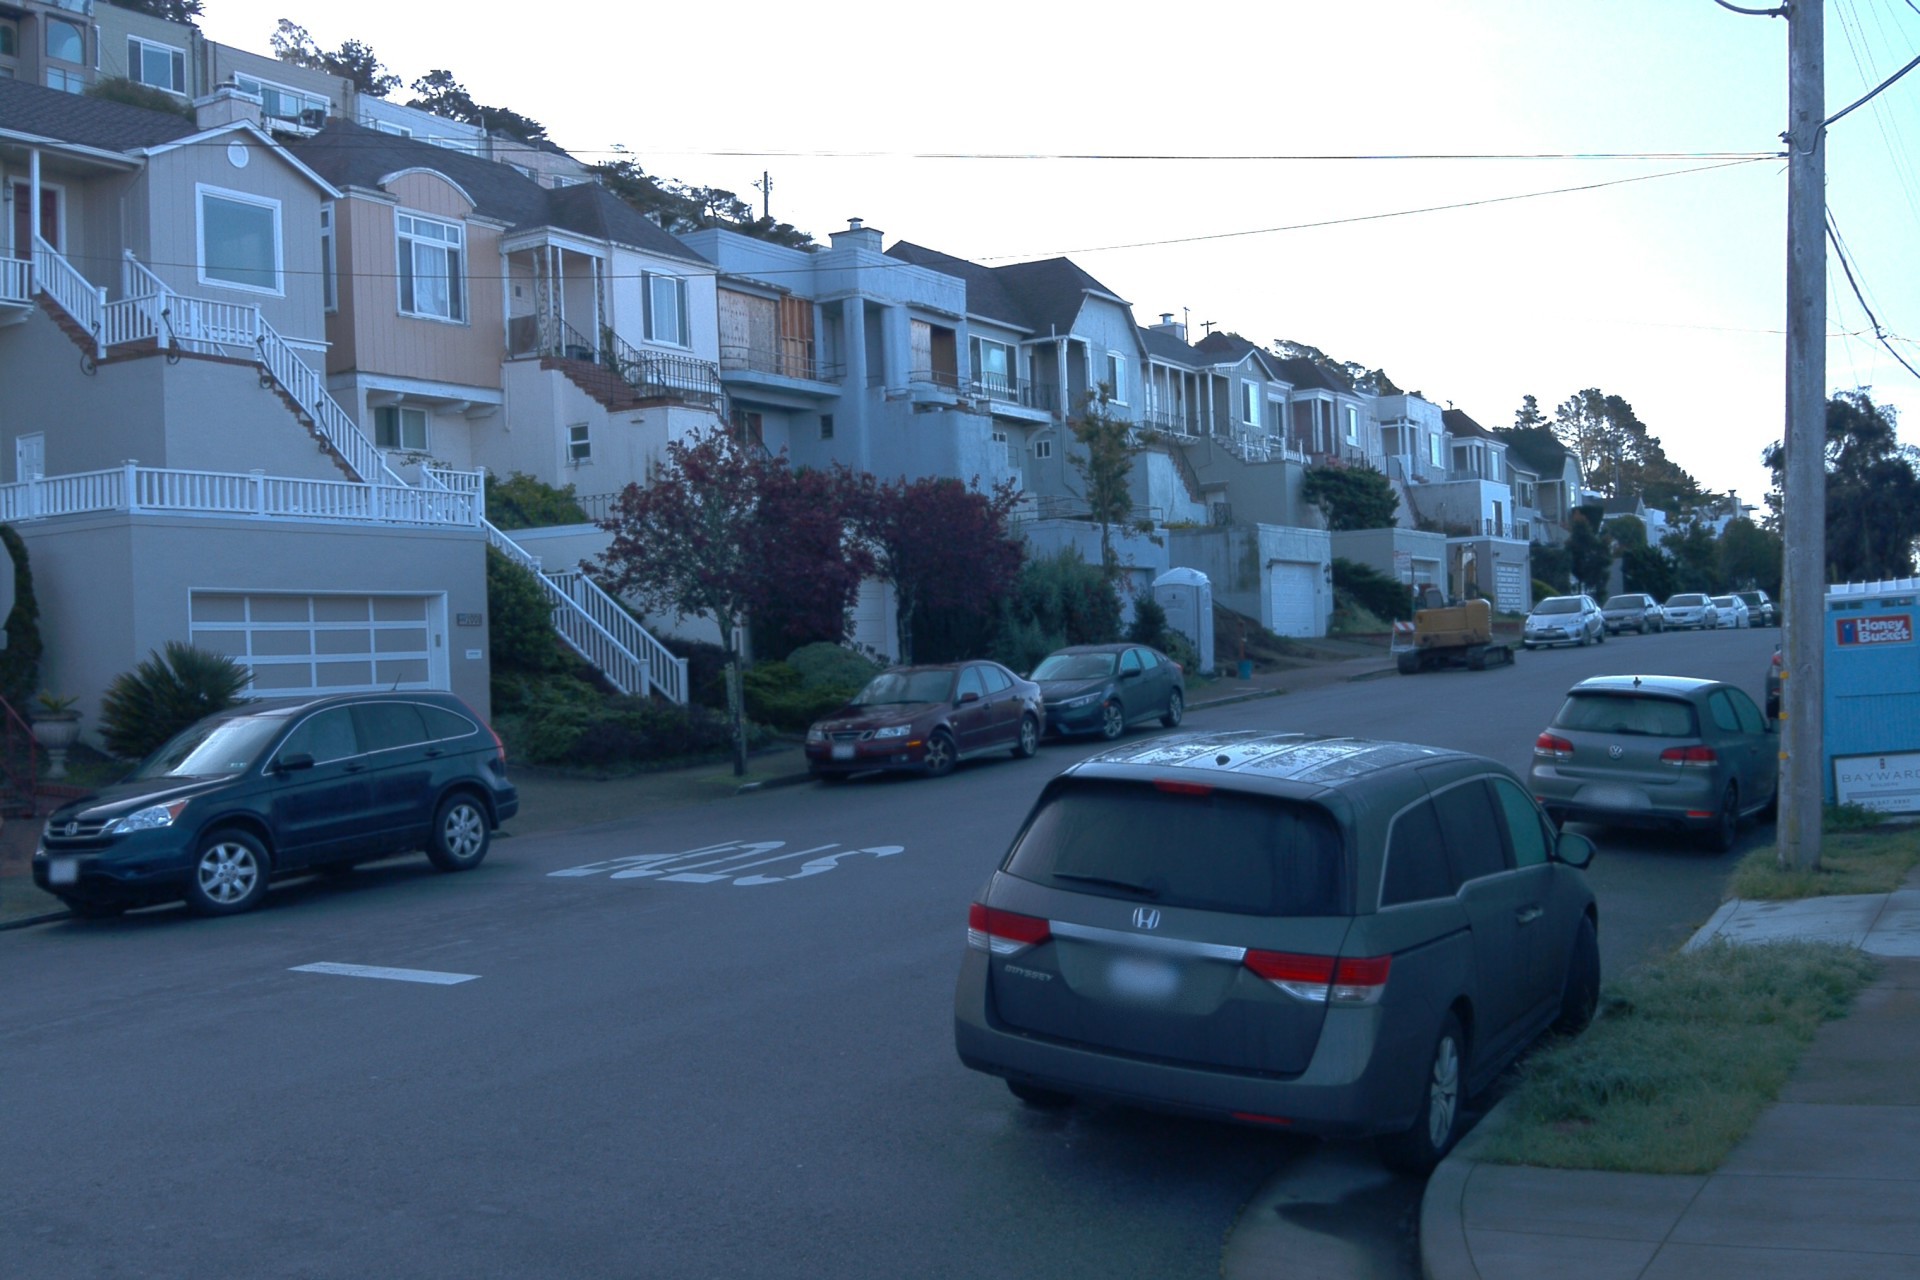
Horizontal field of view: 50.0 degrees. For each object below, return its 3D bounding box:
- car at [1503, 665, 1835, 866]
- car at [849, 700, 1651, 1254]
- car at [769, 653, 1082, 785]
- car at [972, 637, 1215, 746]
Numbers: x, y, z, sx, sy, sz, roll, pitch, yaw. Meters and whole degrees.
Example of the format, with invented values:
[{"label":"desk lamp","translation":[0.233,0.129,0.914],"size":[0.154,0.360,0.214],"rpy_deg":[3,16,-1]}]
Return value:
[{"label":"car","translation":[6.856,1.075,19.610],"size":[2.047,1.630,4.350],"rpy_deg":[0,0,32]},{"label":"car","translation":[1.796,1.306,10.336],"size":[2.389,1.860,5.190],"rpy_deg":[0,0,28]},{"label":"car","translation":[-0.334,0.970,27.367],"size":[2.151,1.560,4.798],"rpy_deg":[0,0,27]},{"label":"car","translation":[2.192,0.746,32.253],"size":[2.163,1.560,4.755],"rpy_deg":[0,0,26]}]
